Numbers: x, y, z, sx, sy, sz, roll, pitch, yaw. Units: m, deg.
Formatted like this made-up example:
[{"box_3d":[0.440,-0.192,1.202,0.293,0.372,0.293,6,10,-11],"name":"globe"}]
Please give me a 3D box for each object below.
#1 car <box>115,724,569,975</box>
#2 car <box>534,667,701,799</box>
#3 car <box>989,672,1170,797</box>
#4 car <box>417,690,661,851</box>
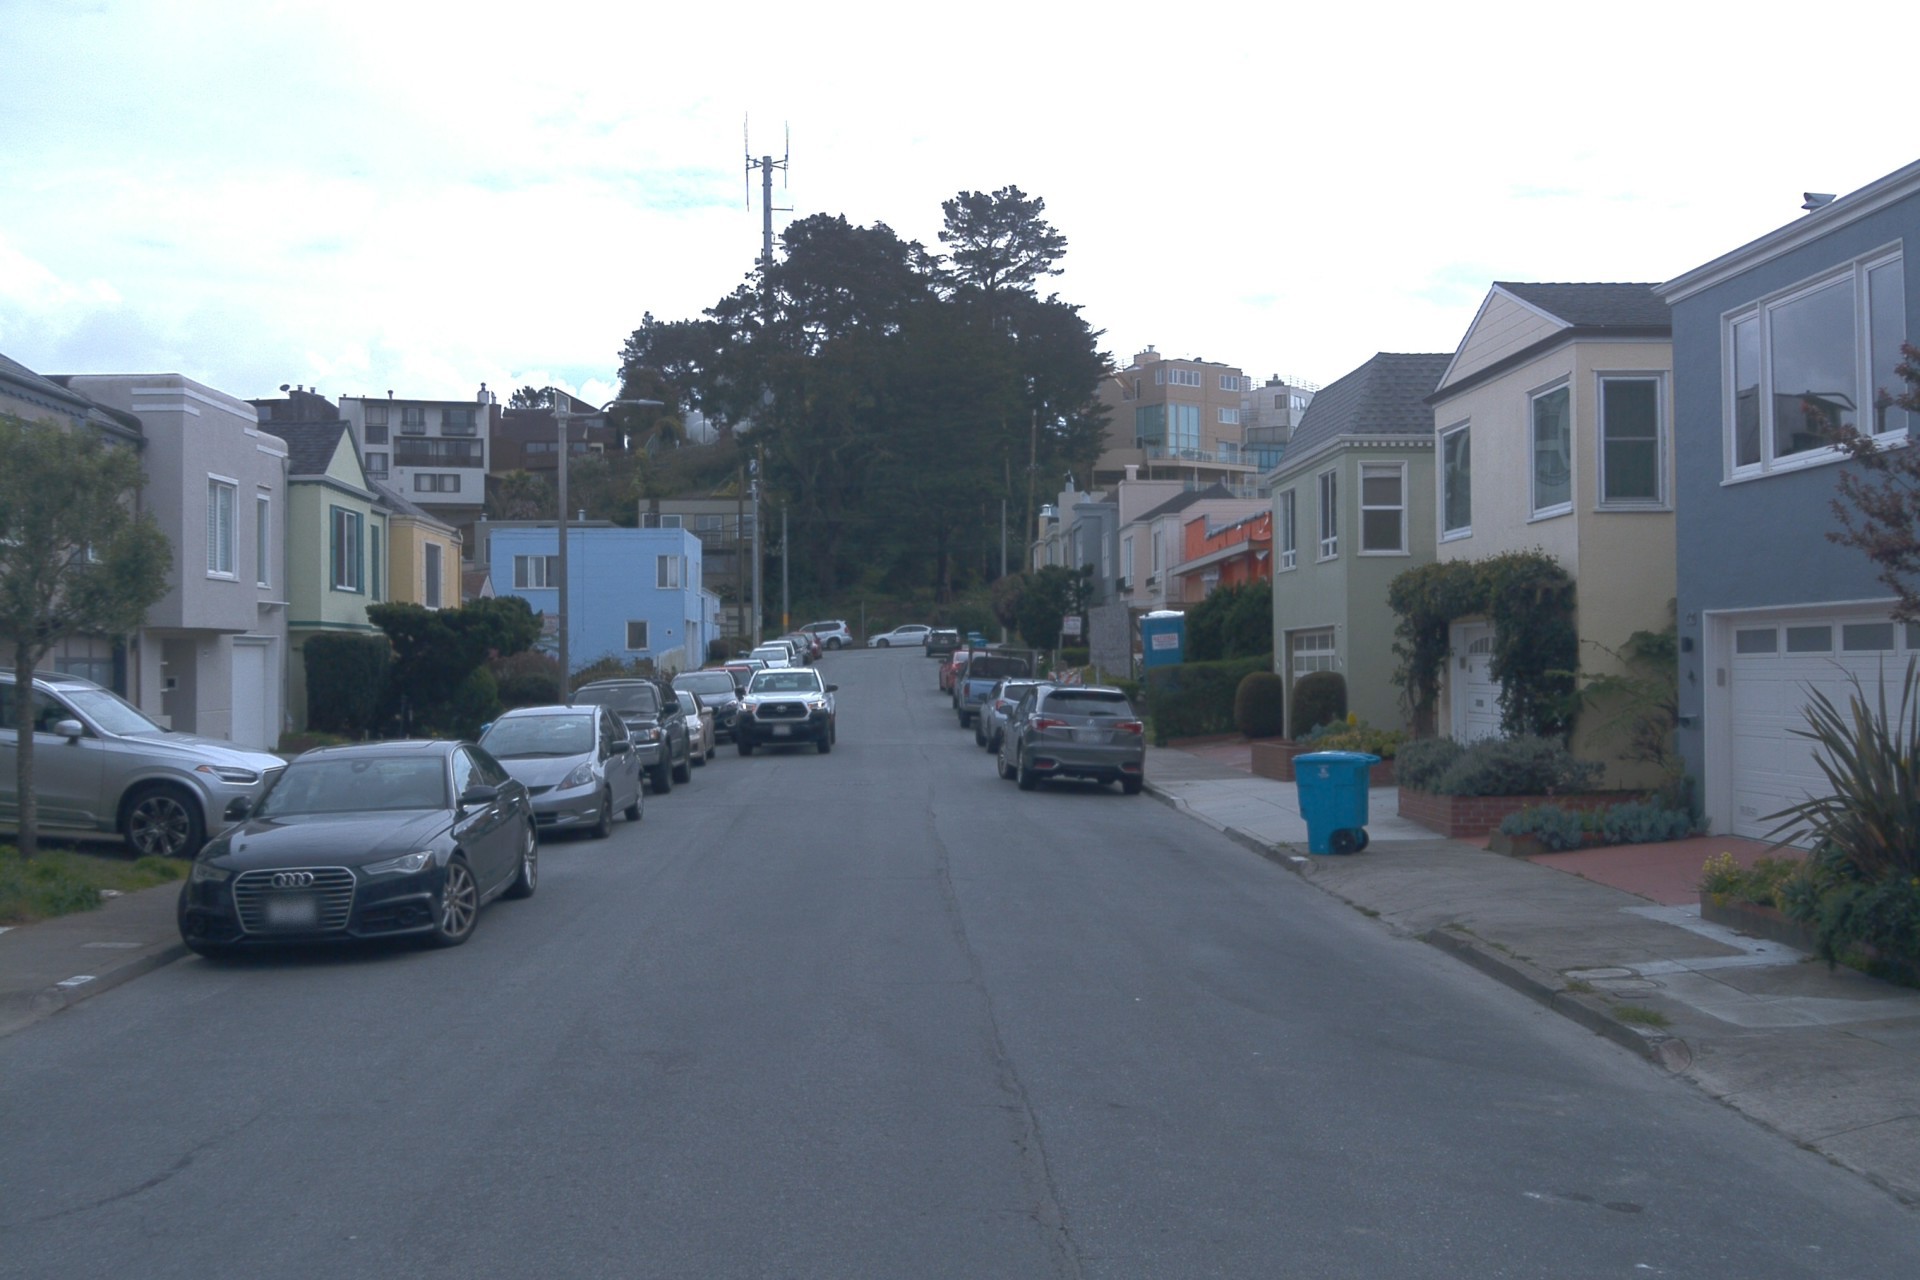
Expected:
[{"box_3d":[-4.576,1.491,16.242,2.204,1.490,4.921,0,0,-1],"name":"car"},{"box_3d":[-5.268,1.378,32.430,2.004,1.880,4.677,0,0,-2],"name":"car"},{"box_3d":[1.778,1.408,32.465,2.218,1.770,4.507,0,0,-5],"name":"car"},{"box_3d":[-4.879,1.471,24.597,2.058,1.660,4.210,0,0,0],"name":"car"}]
